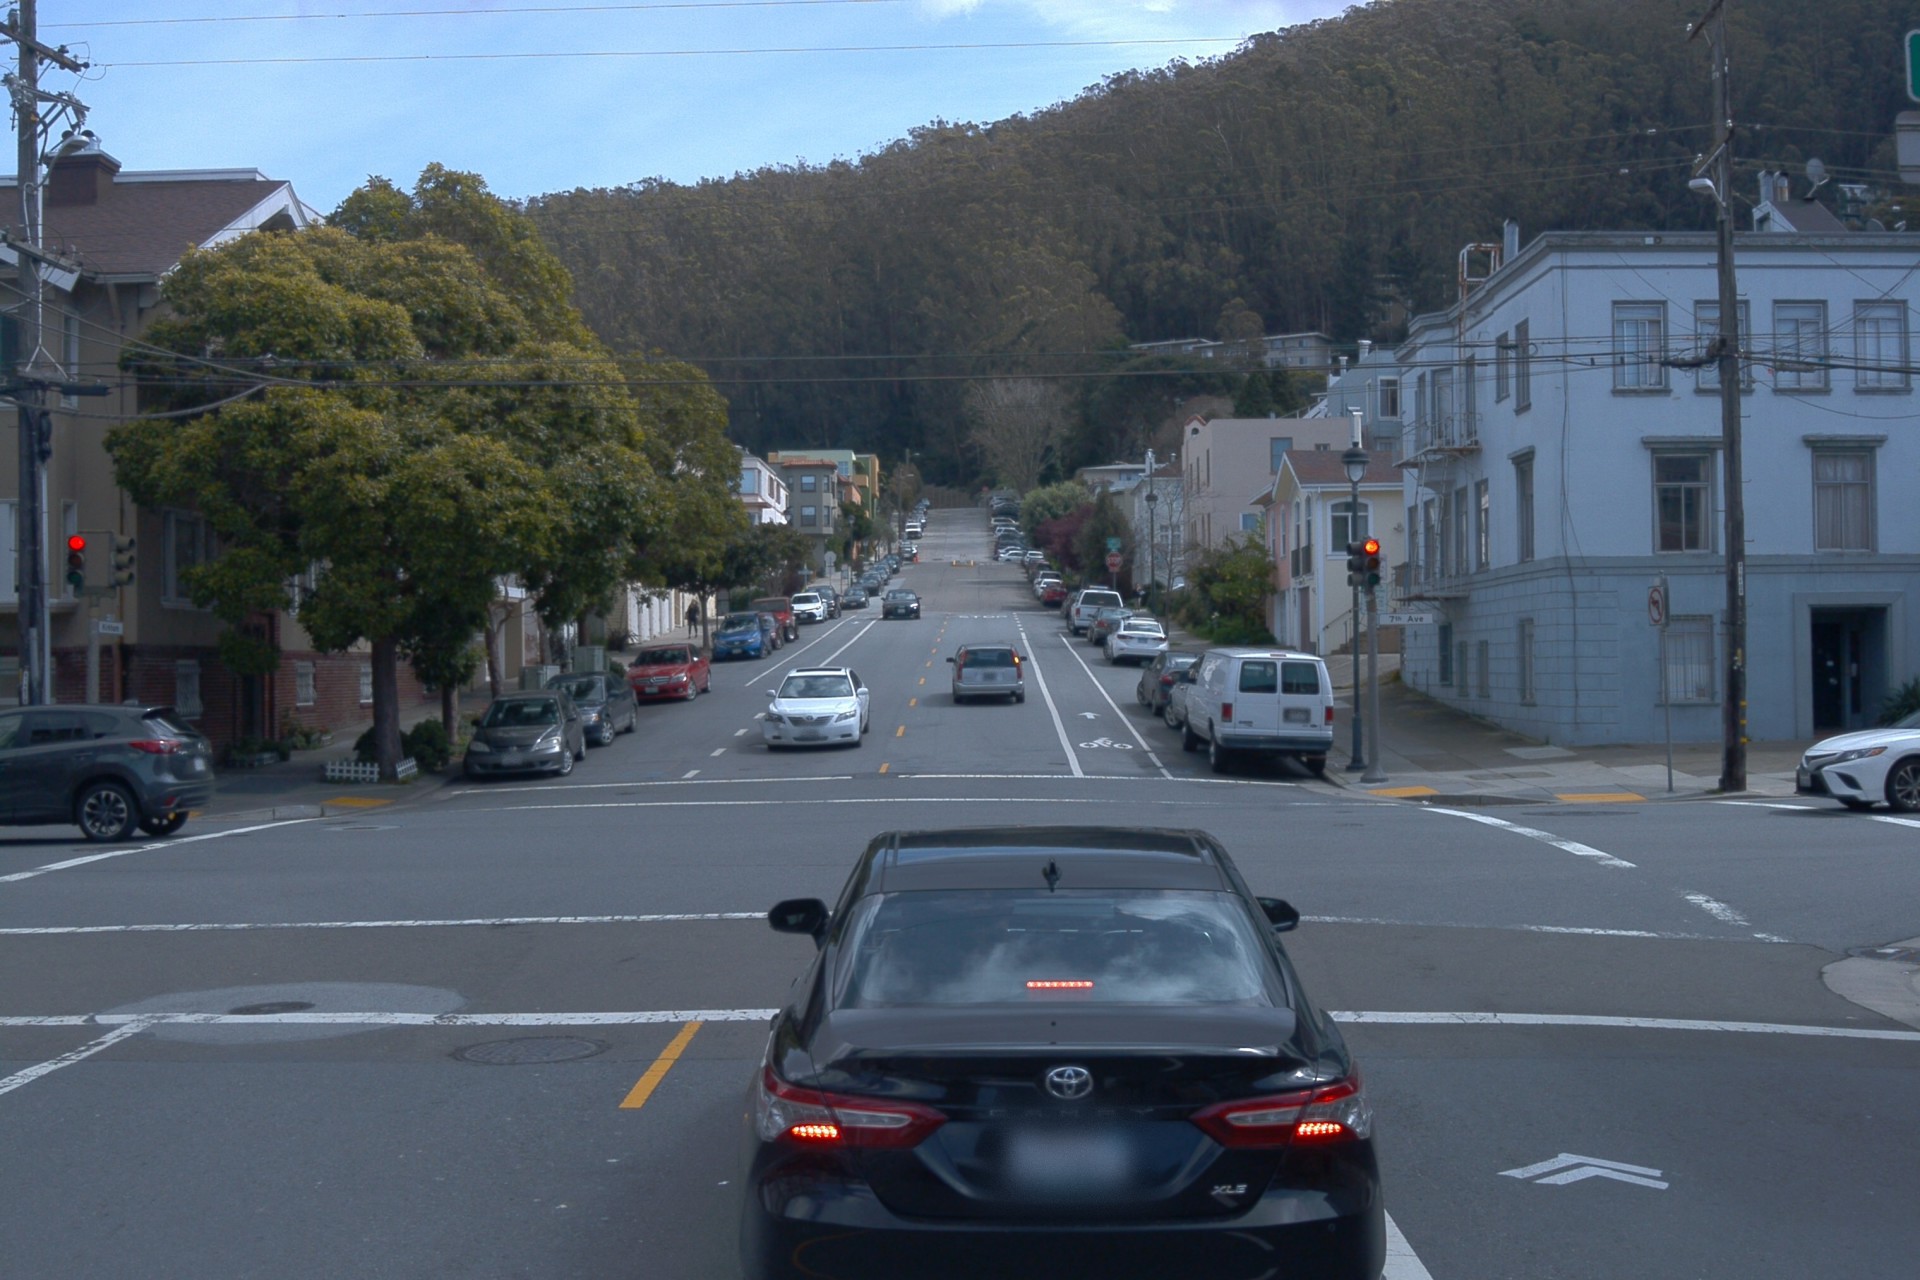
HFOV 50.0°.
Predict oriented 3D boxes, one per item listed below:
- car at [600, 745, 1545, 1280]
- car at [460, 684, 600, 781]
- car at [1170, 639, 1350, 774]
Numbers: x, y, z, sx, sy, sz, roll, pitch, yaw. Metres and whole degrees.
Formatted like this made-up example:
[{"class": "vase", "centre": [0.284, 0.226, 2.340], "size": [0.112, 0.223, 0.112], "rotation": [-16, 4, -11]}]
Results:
[{"class": "car", "centre": [0.282, 1.304, 7.305], "size": [2.249, 1.620, 4.798], "rotation": [0, 0, 0]}, {"class": "car", "centre": [-7.707, 1.621, 37.253], "size": [1.836, 1.560, 4.133], "rotation": [0, 0, -3]}, {"class": "car", "centre": [5.312, 1.115, 37.235], "size": [2.299, 2.250, 5.313], "rotation": [0, 0, -2]}]
